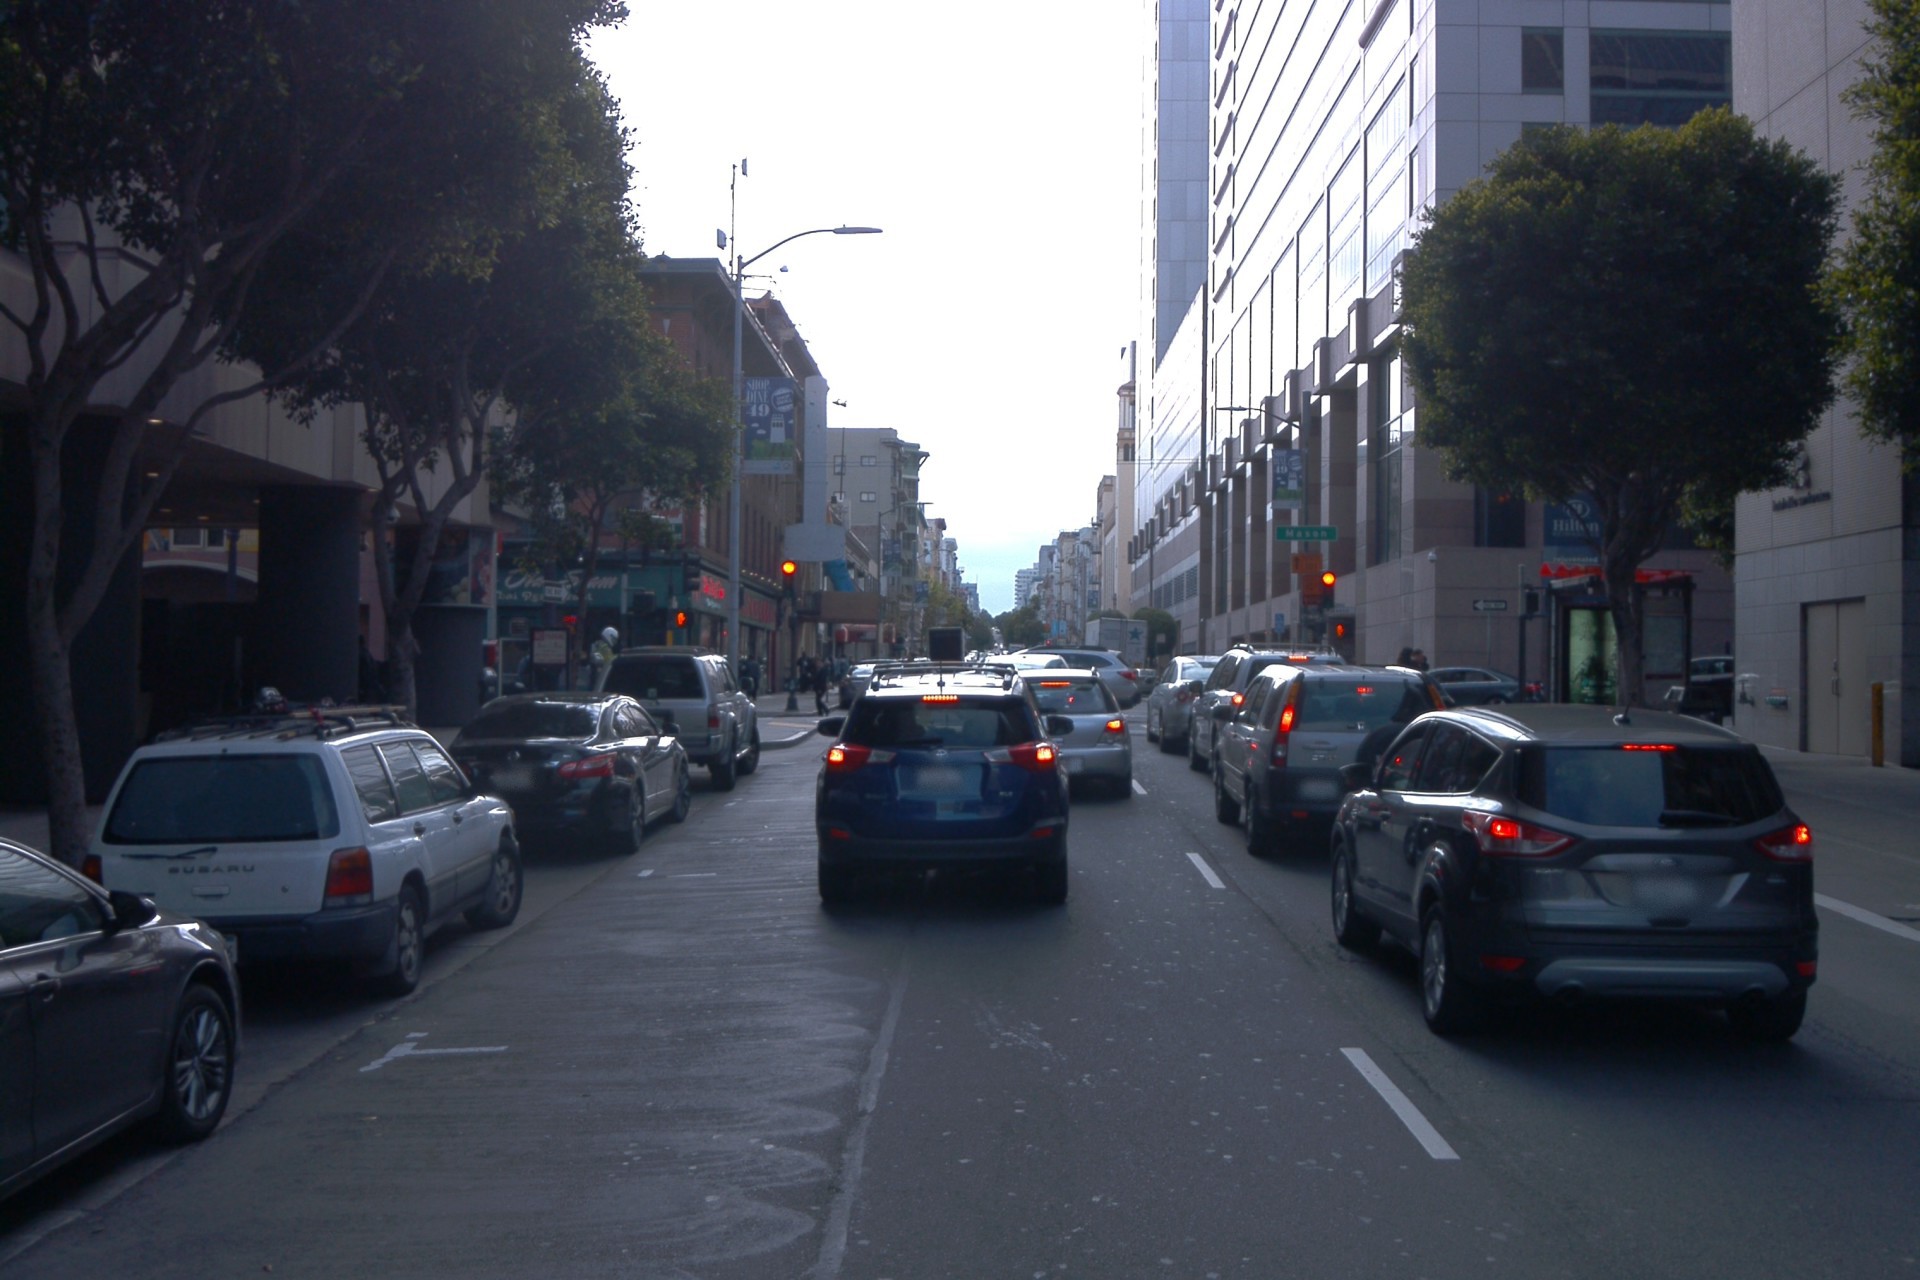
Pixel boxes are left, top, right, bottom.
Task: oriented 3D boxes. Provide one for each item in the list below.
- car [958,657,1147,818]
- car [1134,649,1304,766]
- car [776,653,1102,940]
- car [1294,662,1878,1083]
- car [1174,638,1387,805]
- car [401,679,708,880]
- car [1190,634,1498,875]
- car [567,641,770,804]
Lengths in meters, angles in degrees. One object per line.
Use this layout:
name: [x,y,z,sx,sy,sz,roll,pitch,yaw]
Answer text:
car: [1.095,1.070,24.495,2.030,1.630,4.707,0,1,3]
car: [3.921,0.977,31.881,2.064,1.590,4.796,0,1,1]
car: [-0.125,1.068,16.080,2.184,1.830,4.554,0,1,1]
car: [3.232,1.096,11.631,1.991,1.840,4.312,0,1,0]
car: [3.944,0.937,26.039,2.029,1.870,4.664,0,1,1]
car: [-3.776,1.244,20.043,1.969,1.570,4.799,0,1,1]
car: [3.380,0.924,18.997,1.983,1.910,4.572,0,1,0]
car: [-3.691,0.982,26.867,1.995,1.880,4.689,0,1,0]
